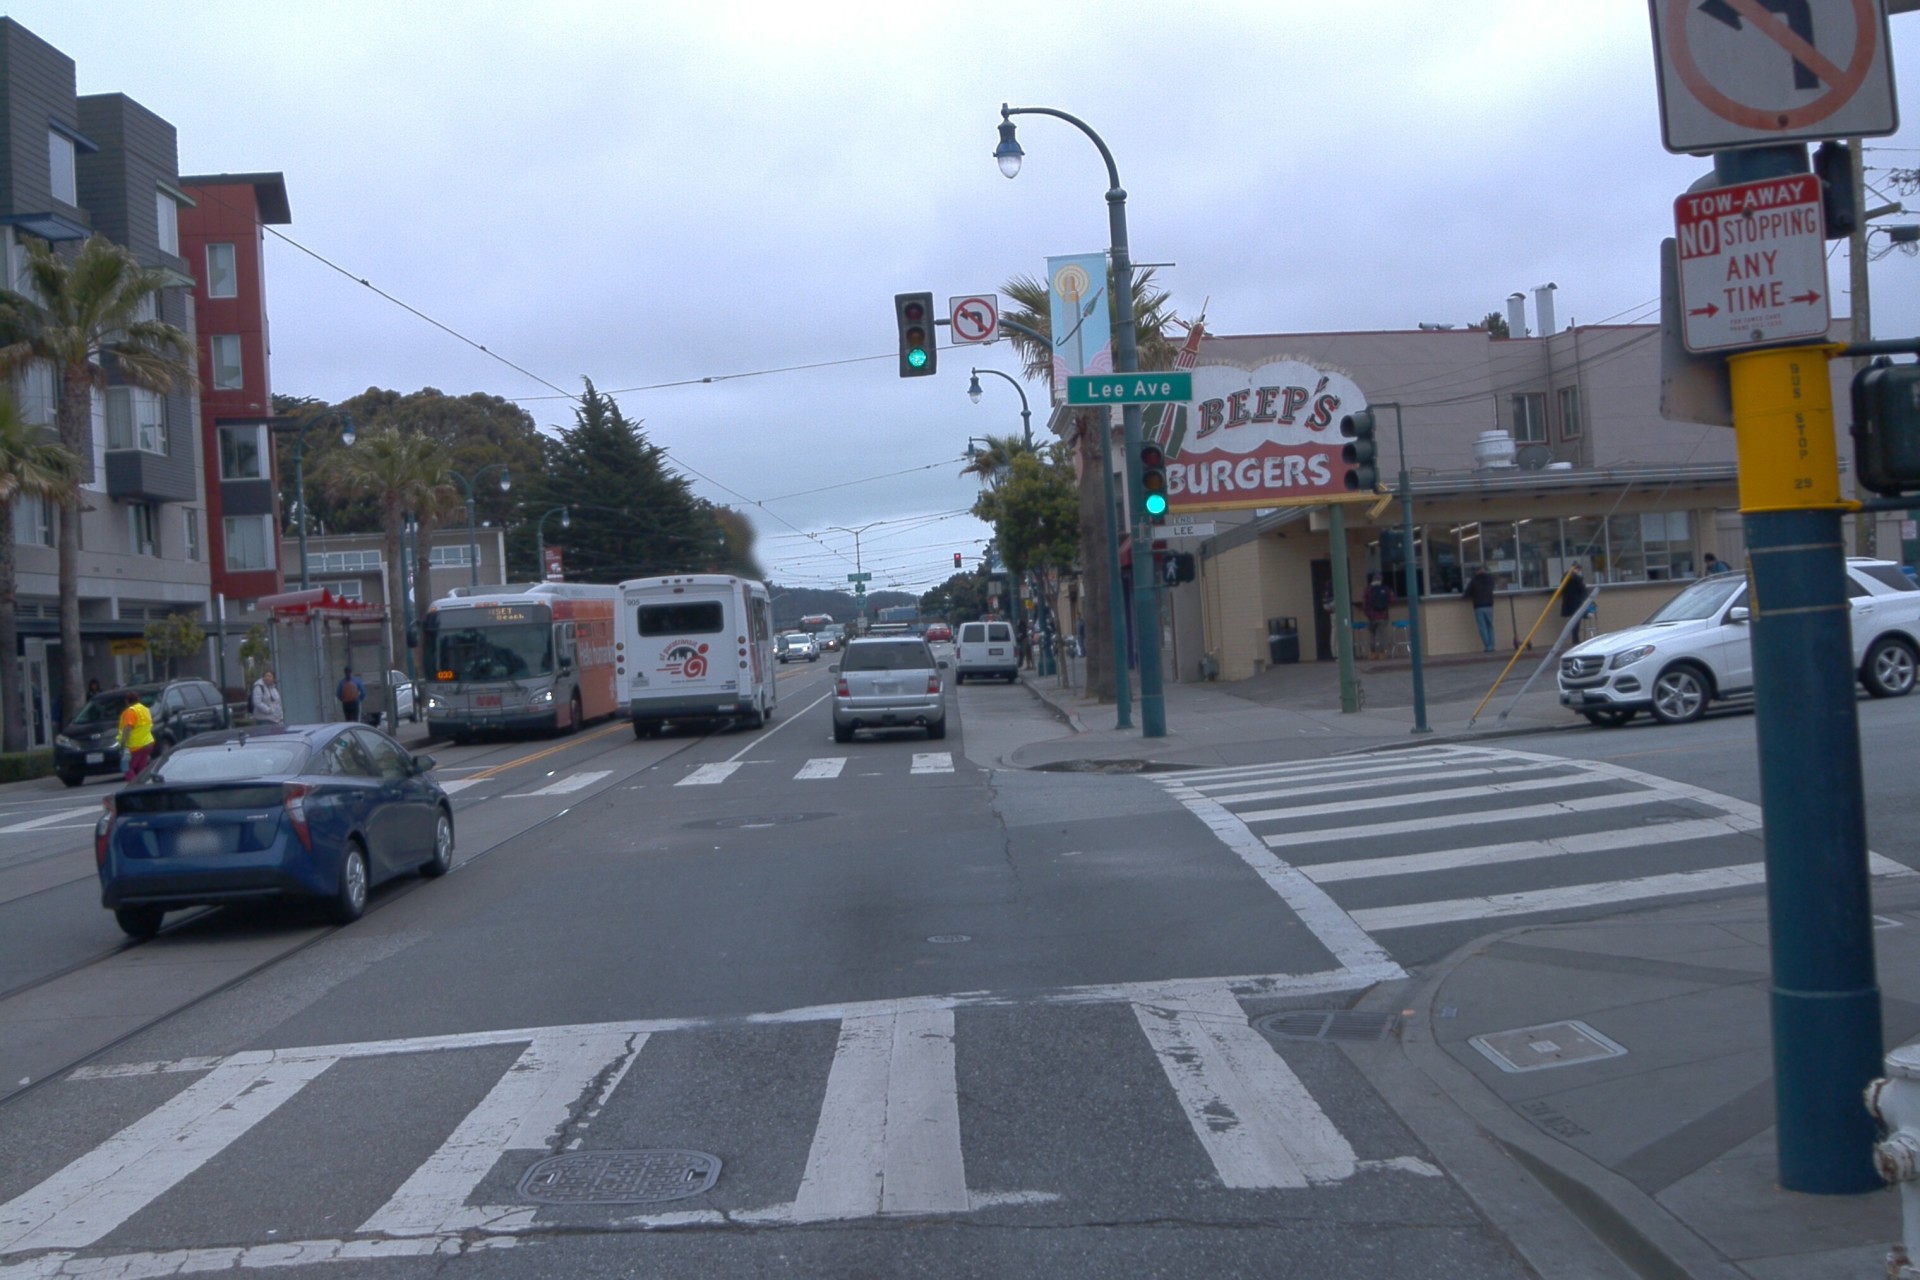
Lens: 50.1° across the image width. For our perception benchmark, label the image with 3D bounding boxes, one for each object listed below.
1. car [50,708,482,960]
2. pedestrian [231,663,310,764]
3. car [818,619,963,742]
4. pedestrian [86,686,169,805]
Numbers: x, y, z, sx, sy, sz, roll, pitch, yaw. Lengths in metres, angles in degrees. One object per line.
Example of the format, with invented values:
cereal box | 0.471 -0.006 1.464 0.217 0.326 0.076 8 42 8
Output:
car | -5.324 1.423 16.433 1.971 1.540 4.260 0 1 1
pedestrian | -12.037 1.263 35.904 0.979 1.700 0.856 0 1 27
car | -1.162 0.622 35.102 2.302 1.940 4.182 0 1 -1
pedestrian | -12.397 1.549 30.628 0.704 1.700 0.893 0 1 38
